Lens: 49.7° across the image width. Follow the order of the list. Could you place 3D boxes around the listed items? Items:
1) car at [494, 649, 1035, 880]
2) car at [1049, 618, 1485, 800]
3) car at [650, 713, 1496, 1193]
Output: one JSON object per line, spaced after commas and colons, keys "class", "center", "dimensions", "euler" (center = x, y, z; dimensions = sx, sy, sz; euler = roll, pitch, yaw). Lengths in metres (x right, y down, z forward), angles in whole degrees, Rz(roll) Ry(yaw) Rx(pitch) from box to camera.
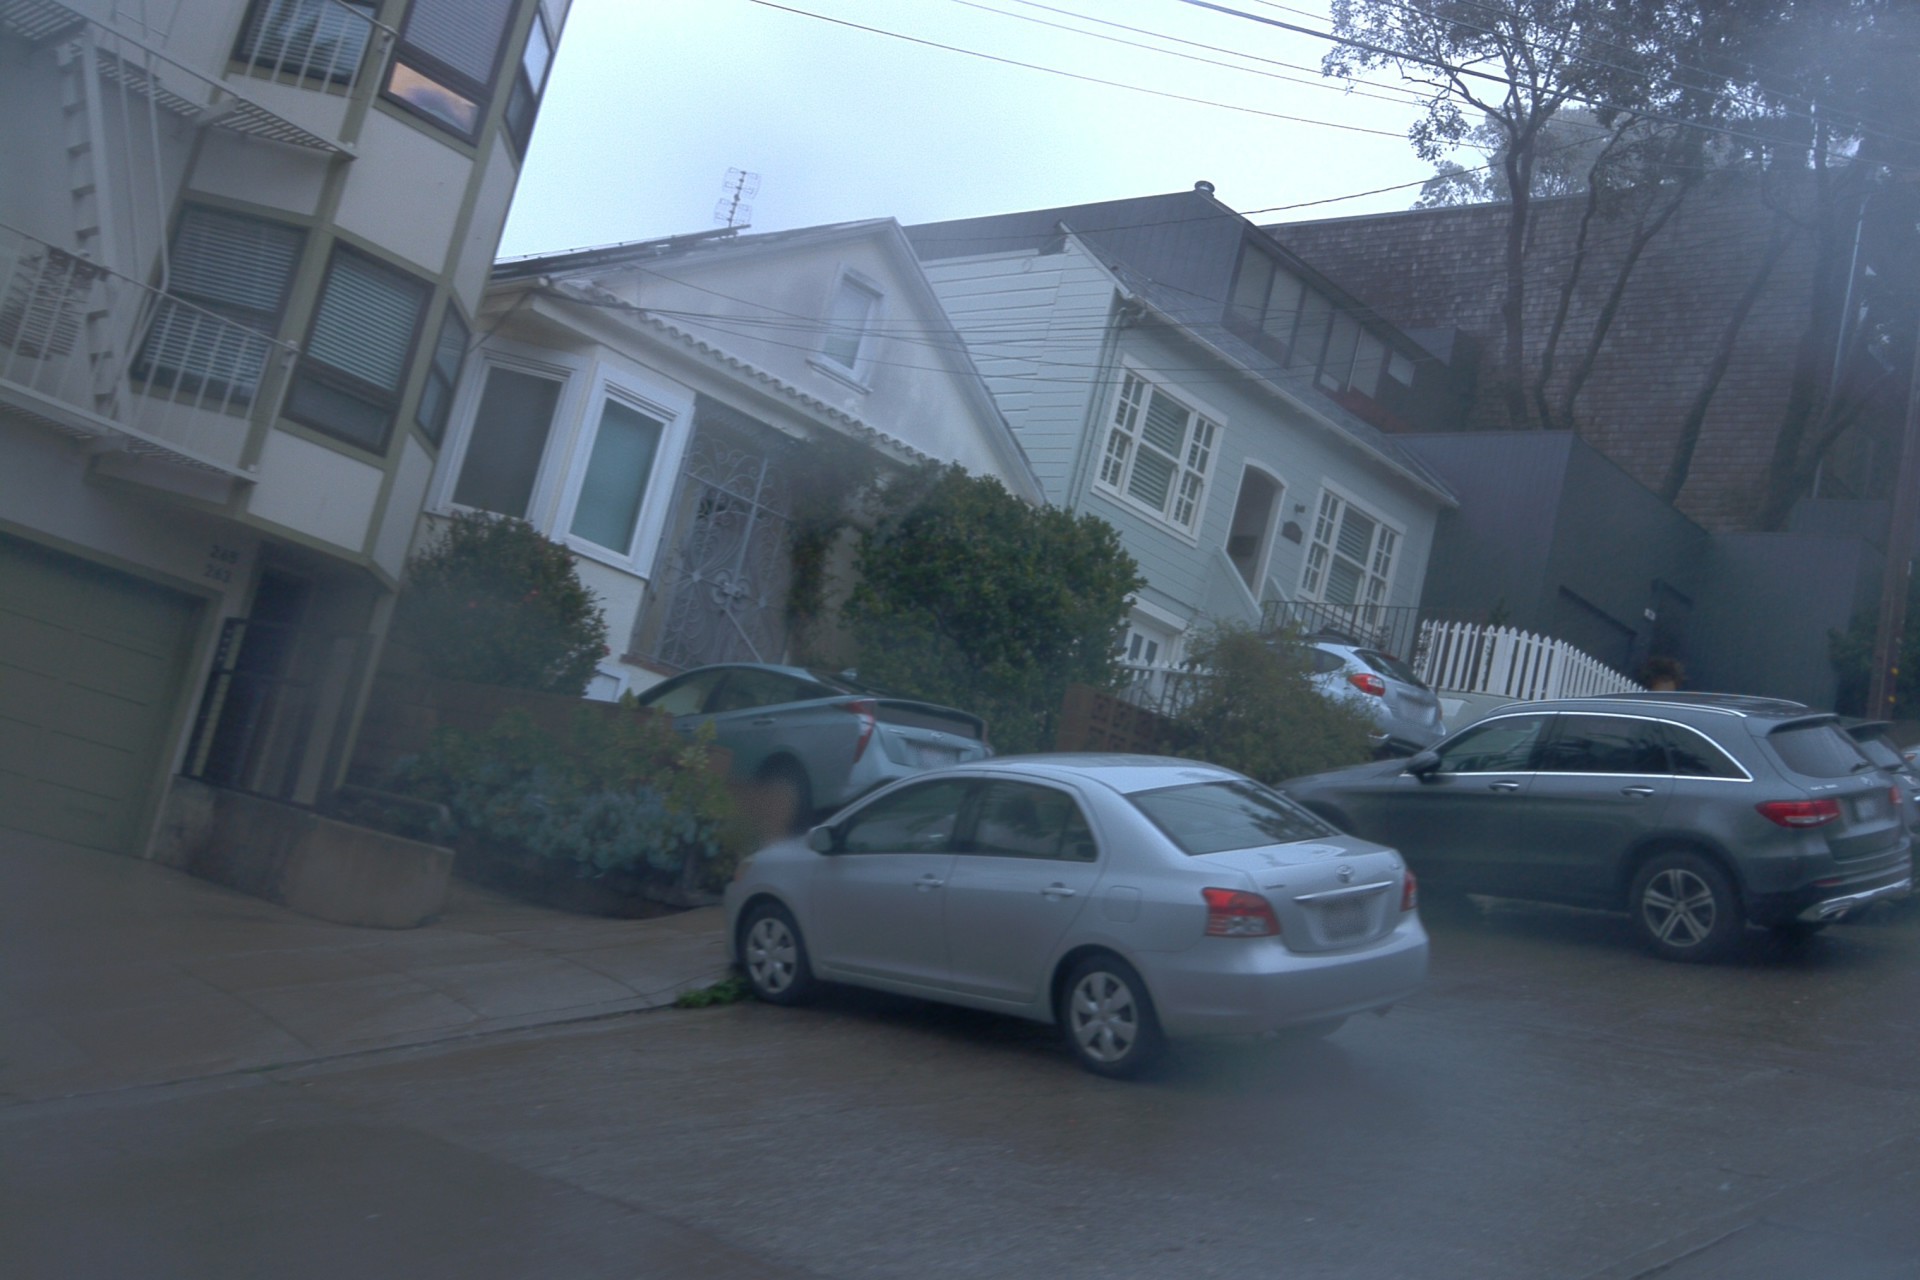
{"class": "car", "center": [-1.738, 0.912, 17.308], "dimensions": [4.454, 1.650, 2.111], "euler": [0, 0, 44]}
{"class": "car", "center": [3.350, 0.694, 23.172], "dimensions": [4.430, 1.830, 2.091], "euler": [0, 0, 44]}
{"class": "car", "center": [0.432, 1.386, 10.865], "dimensions": [2.016, 1.850, 4.143], "euler": [0, 0, -44]}
